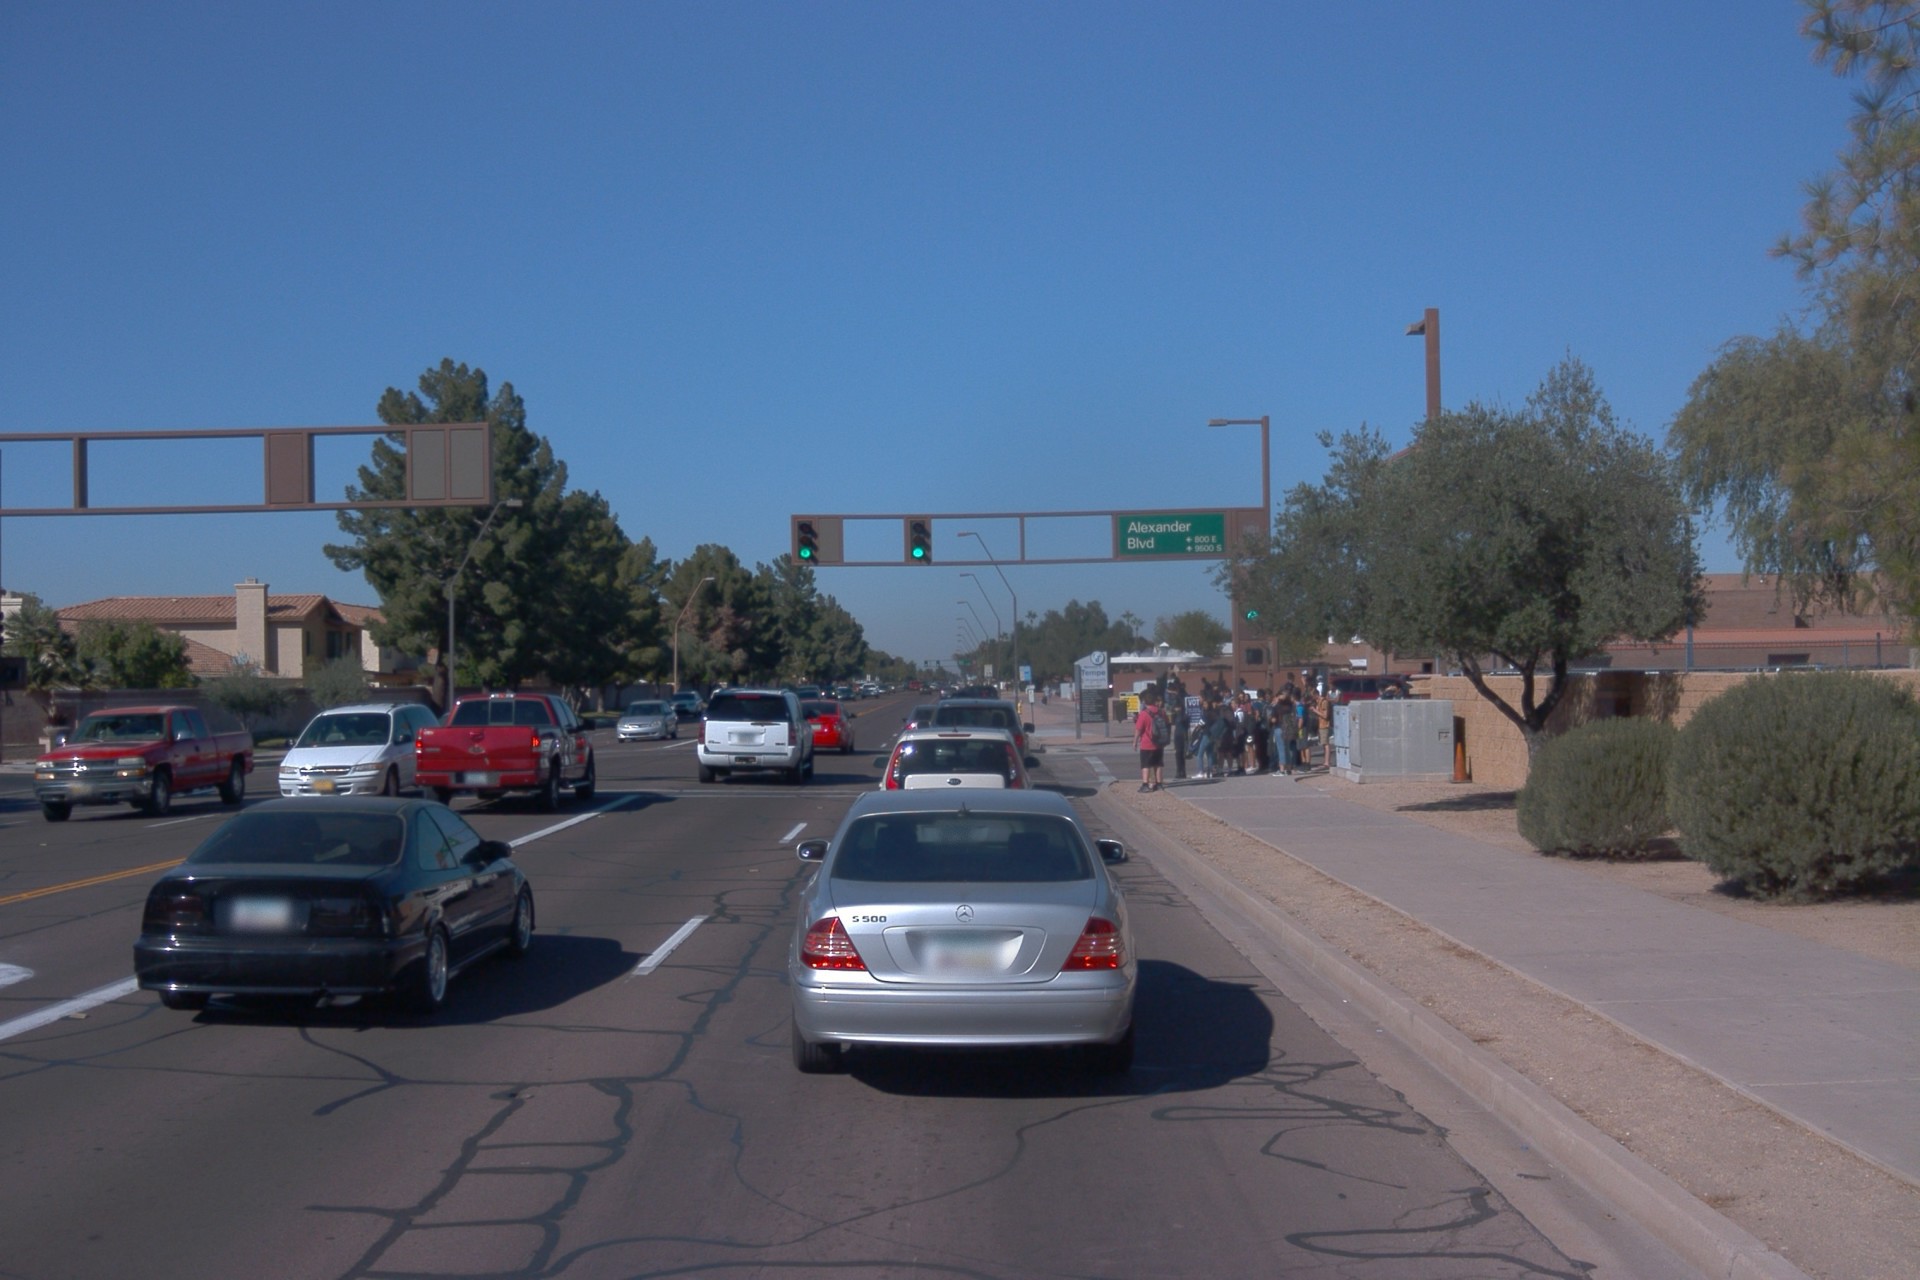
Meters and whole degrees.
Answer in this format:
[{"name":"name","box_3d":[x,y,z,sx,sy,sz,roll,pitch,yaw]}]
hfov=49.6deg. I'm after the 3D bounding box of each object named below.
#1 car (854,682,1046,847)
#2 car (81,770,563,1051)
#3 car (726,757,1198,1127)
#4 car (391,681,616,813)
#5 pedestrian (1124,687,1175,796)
[{"name":"car","box_3d":[-0.067,1.379,24.526,2.056,1.760,4.487,0,-1,1]},{"name":"car","box_3d":[-4.059,1.680,14.063,1.915,1.410,4.397,0,-1,0]},{"name":"car","box_3d":[0.004,1.577,12.241,2.265,1.600,4.514,0,-1,0]},{"name":"car","box_3d":[-7.322,1.663,34.070,2.581,1.980,5.796,0,-1,-2]},{"name":"pedestrian","box_3d":[3.405,1.810,37.319,0.877,1.910,0.879,0,-1,7]}]
